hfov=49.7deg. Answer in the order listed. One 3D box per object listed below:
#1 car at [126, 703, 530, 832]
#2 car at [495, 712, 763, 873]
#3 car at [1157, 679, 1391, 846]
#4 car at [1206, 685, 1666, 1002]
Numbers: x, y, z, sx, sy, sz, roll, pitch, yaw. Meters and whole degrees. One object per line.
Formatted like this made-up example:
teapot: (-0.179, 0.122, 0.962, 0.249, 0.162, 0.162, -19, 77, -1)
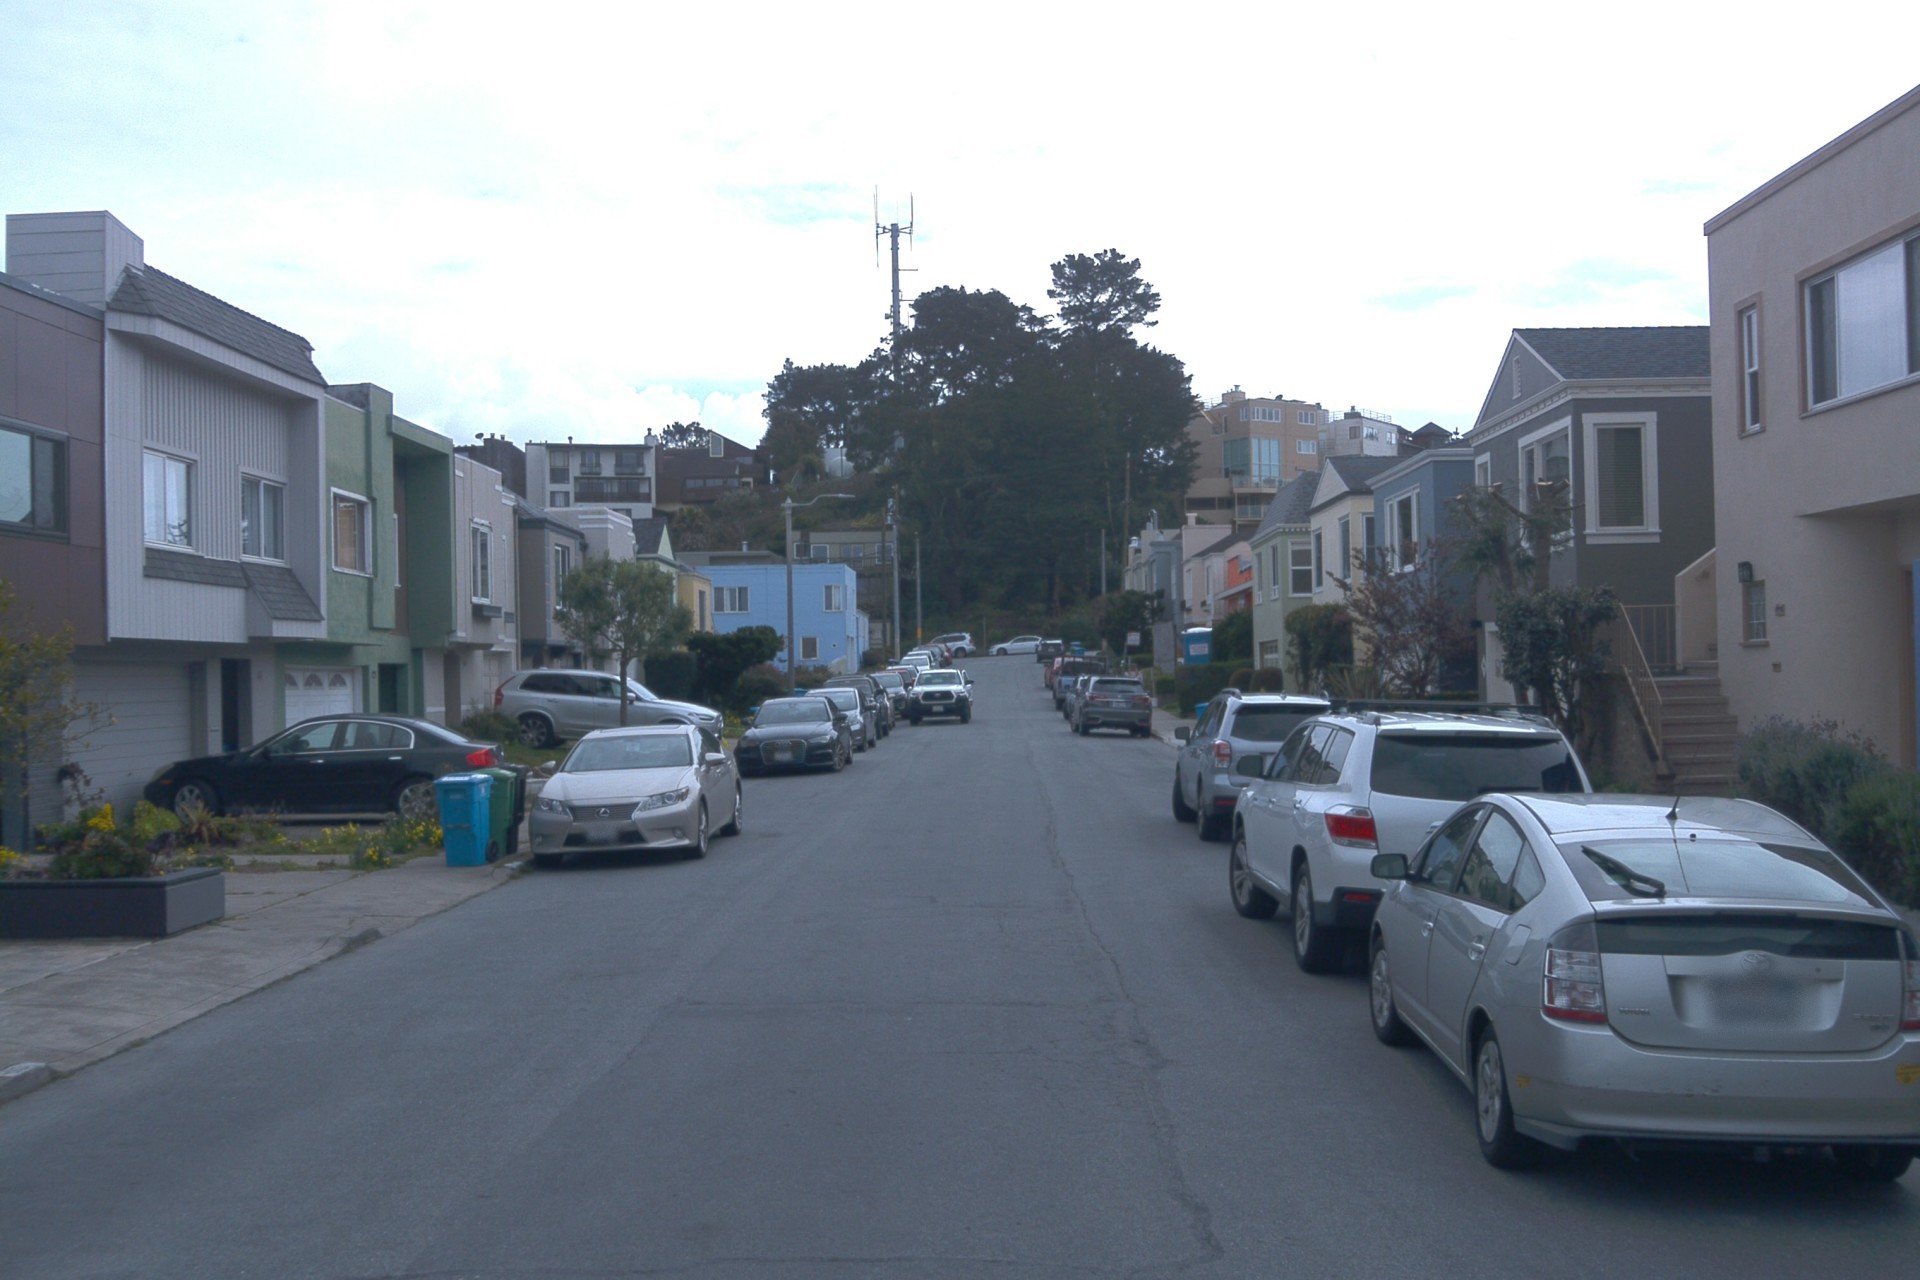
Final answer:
car: (-8.196, 1.636, 27.254, 4.784, 1.560, 2.035, 0, 0, -5)
car: (-3.663, 1.659, 23.906, 2.130, 1.510, 5.019, 0, 0, 2)
car: (3.614, 1.369, 24.729, 2.102, 1.730, 4.779, 0, 0, 1)
car: (3.201, 1.293, 15.145, 2.206, 1.850, 5.028, 0, 0, 0)
